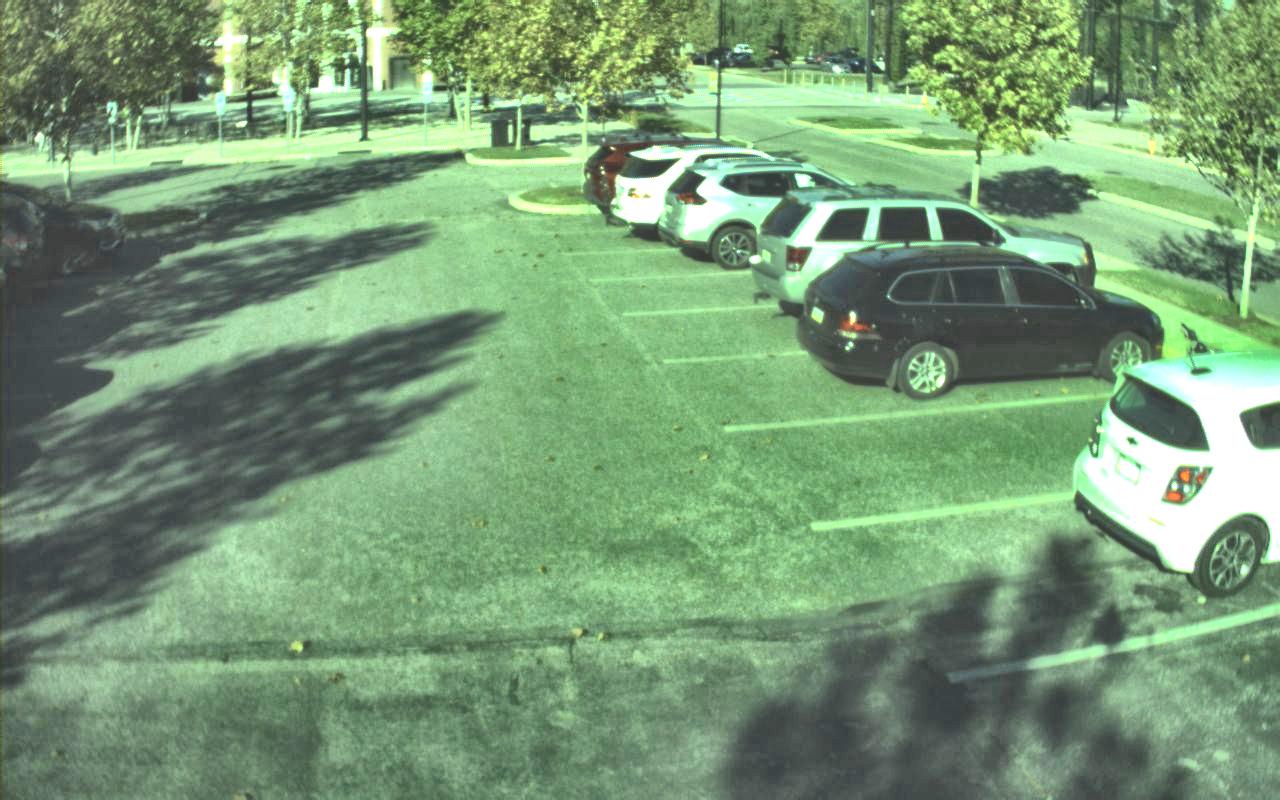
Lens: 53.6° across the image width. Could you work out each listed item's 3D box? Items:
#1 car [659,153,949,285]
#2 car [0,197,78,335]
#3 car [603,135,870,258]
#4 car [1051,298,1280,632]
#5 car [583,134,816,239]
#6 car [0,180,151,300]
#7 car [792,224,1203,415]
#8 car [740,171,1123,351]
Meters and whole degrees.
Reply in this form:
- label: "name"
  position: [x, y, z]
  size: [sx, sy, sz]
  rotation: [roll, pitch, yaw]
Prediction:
- label: "car"
  position: [2.760, -3.141, 21.151]
  size: [4.549, 1.802, 1.995]
  rotation: [-4, 16, -11]
- label: "car"
  position: [-11.841, -2.196, 18.370]
  size: [4.472, 1.663, 1.994]
  rotation: [-3, 16, -6]
- label: "car"
  position: [1.801, -3.890, 23.516]
  size: [4.635, 1.873, 2.032]
  rotation: [-5, 17, -14]
- label: "car"
  position: [5.667, 0.342, 9.047]
  size: [4.445, 1.682, 1.954]
  rotation: [-5, 17, -14]
- label: "car"
  position: [1.224, -4.525, 26.182]
  size: [4.490, 1.782, 1.993]
  rotation: [-5, 17, -13]
- label: "car"
  position: [-11.659, -3.023, 21.528]
  size: [4.485, 1.605, 1.968]
  rotation: [-4, 17, -11]
- label: "car"
  position: [4.073, -1.018, 13.809]
  size: [4.402, 1.539, 1.917]
  rotation: [-4, 17, -10]
- label: "car"
  position: [3.856, -1.944, 16.271]
  size: [4.734, 1.859, 2.047]
  rotation: [-4, 16, -10]
